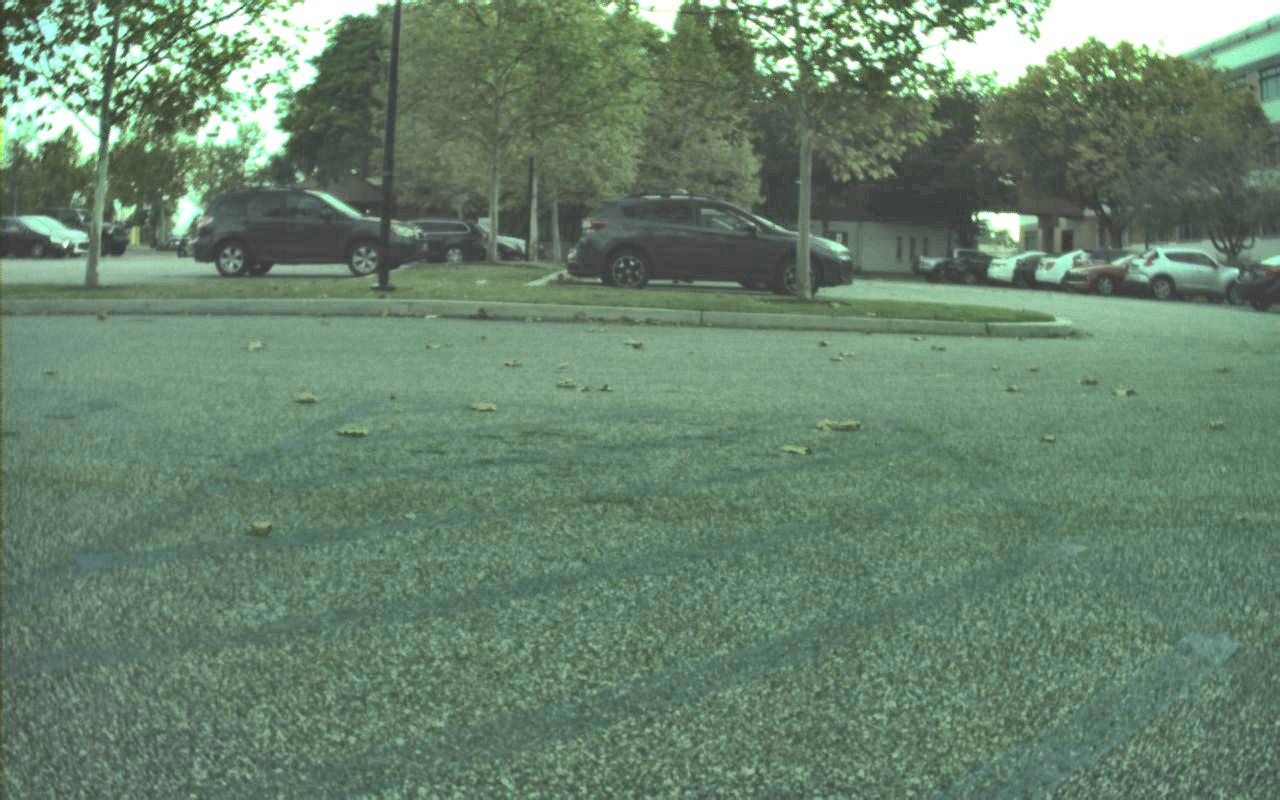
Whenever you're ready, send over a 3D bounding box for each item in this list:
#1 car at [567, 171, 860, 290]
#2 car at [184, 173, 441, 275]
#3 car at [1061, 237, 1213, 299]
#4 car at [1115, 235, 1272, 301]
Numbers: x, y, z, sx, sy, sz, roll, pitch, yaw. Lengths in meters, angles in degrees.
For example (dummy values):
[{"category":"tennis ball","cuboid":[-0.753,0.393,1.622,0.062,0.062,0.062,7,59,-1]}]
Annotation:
[{"category":"car","cuboid":[1.119,-2.690,20.269,4.541,1.671,1.957,0,1,-3]},{"category":"car","cuboid":[-6.227,-3.274,23.186,4.637,1.664,1.994,0,1,0]},{"category":"car","cuboid":[15.274,-3.960,36.301,4.526,1.633,1.978,1,1,3]},{"category":"car","cuboid":[16.036,-3.699,33.593,4.446,1.631,1.944,1,1,3]}]
